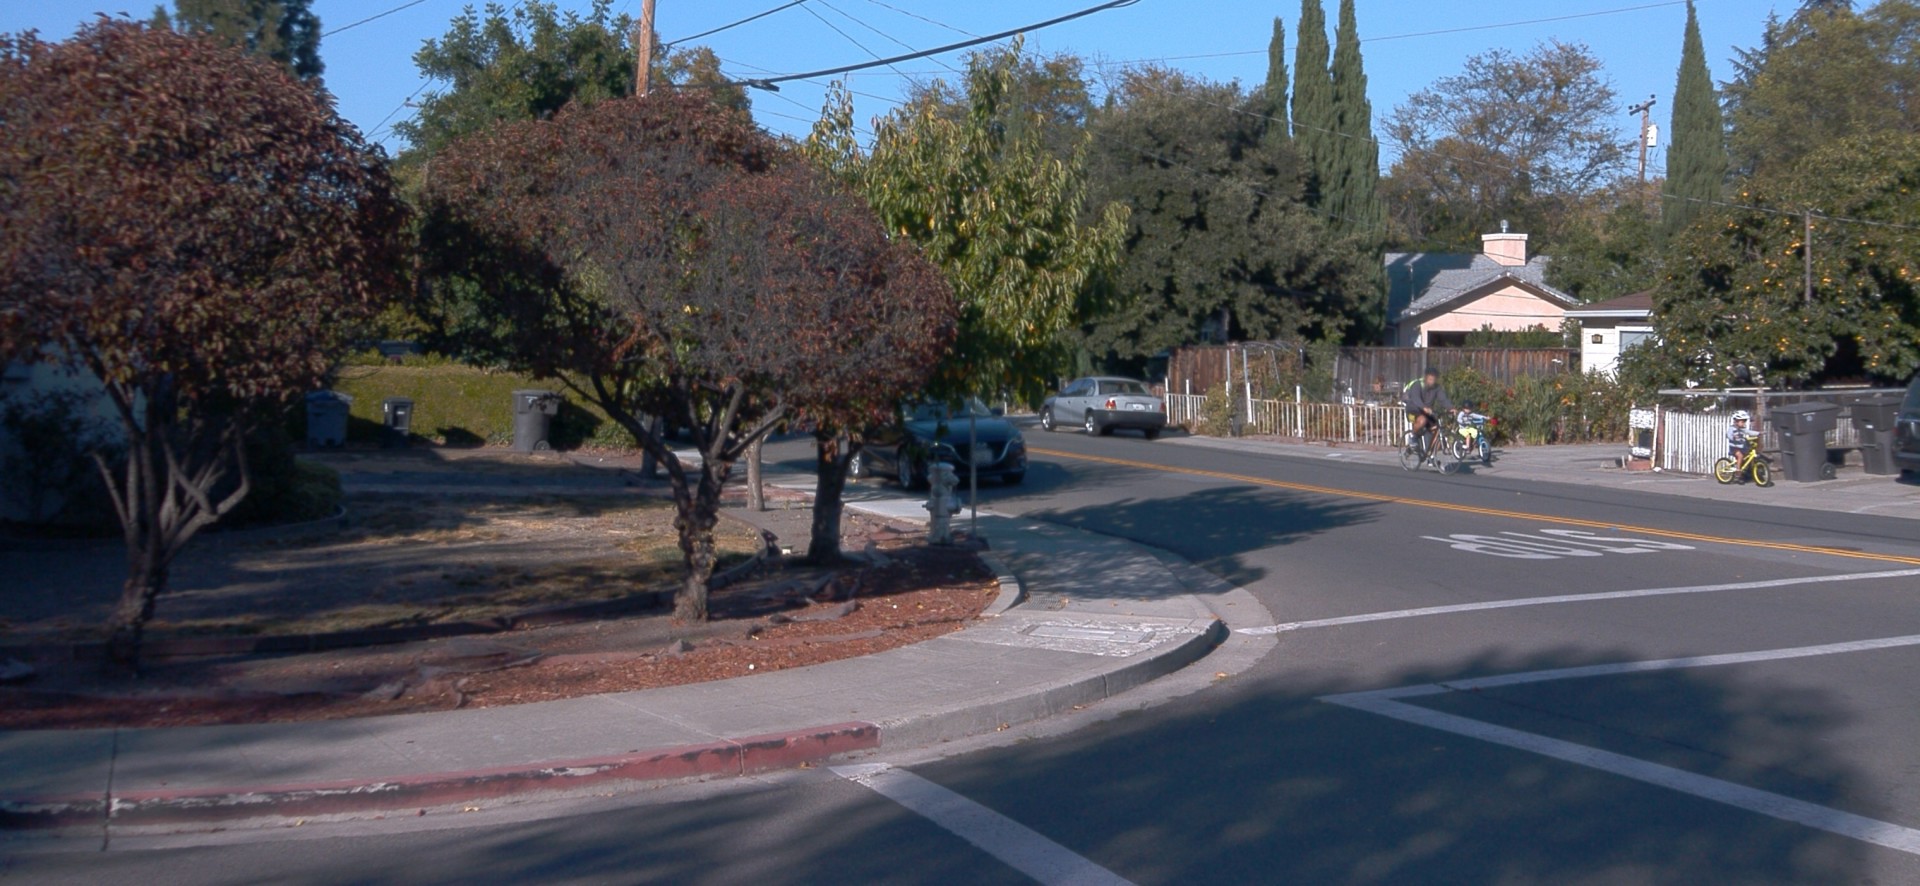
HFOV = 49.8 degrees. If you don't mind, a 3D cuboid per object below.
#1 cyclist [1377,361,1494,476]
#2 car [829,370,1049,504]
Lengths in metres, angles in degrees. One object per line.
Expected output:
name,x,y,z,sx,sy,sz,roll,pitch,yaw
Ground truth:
cyclist,7.652,-0.426,33.384,0.824,1.664,1.957,0,4,-23
car,-0.416,-0.175,31.679,2.032,1.554,4.626,-1,5,-19
